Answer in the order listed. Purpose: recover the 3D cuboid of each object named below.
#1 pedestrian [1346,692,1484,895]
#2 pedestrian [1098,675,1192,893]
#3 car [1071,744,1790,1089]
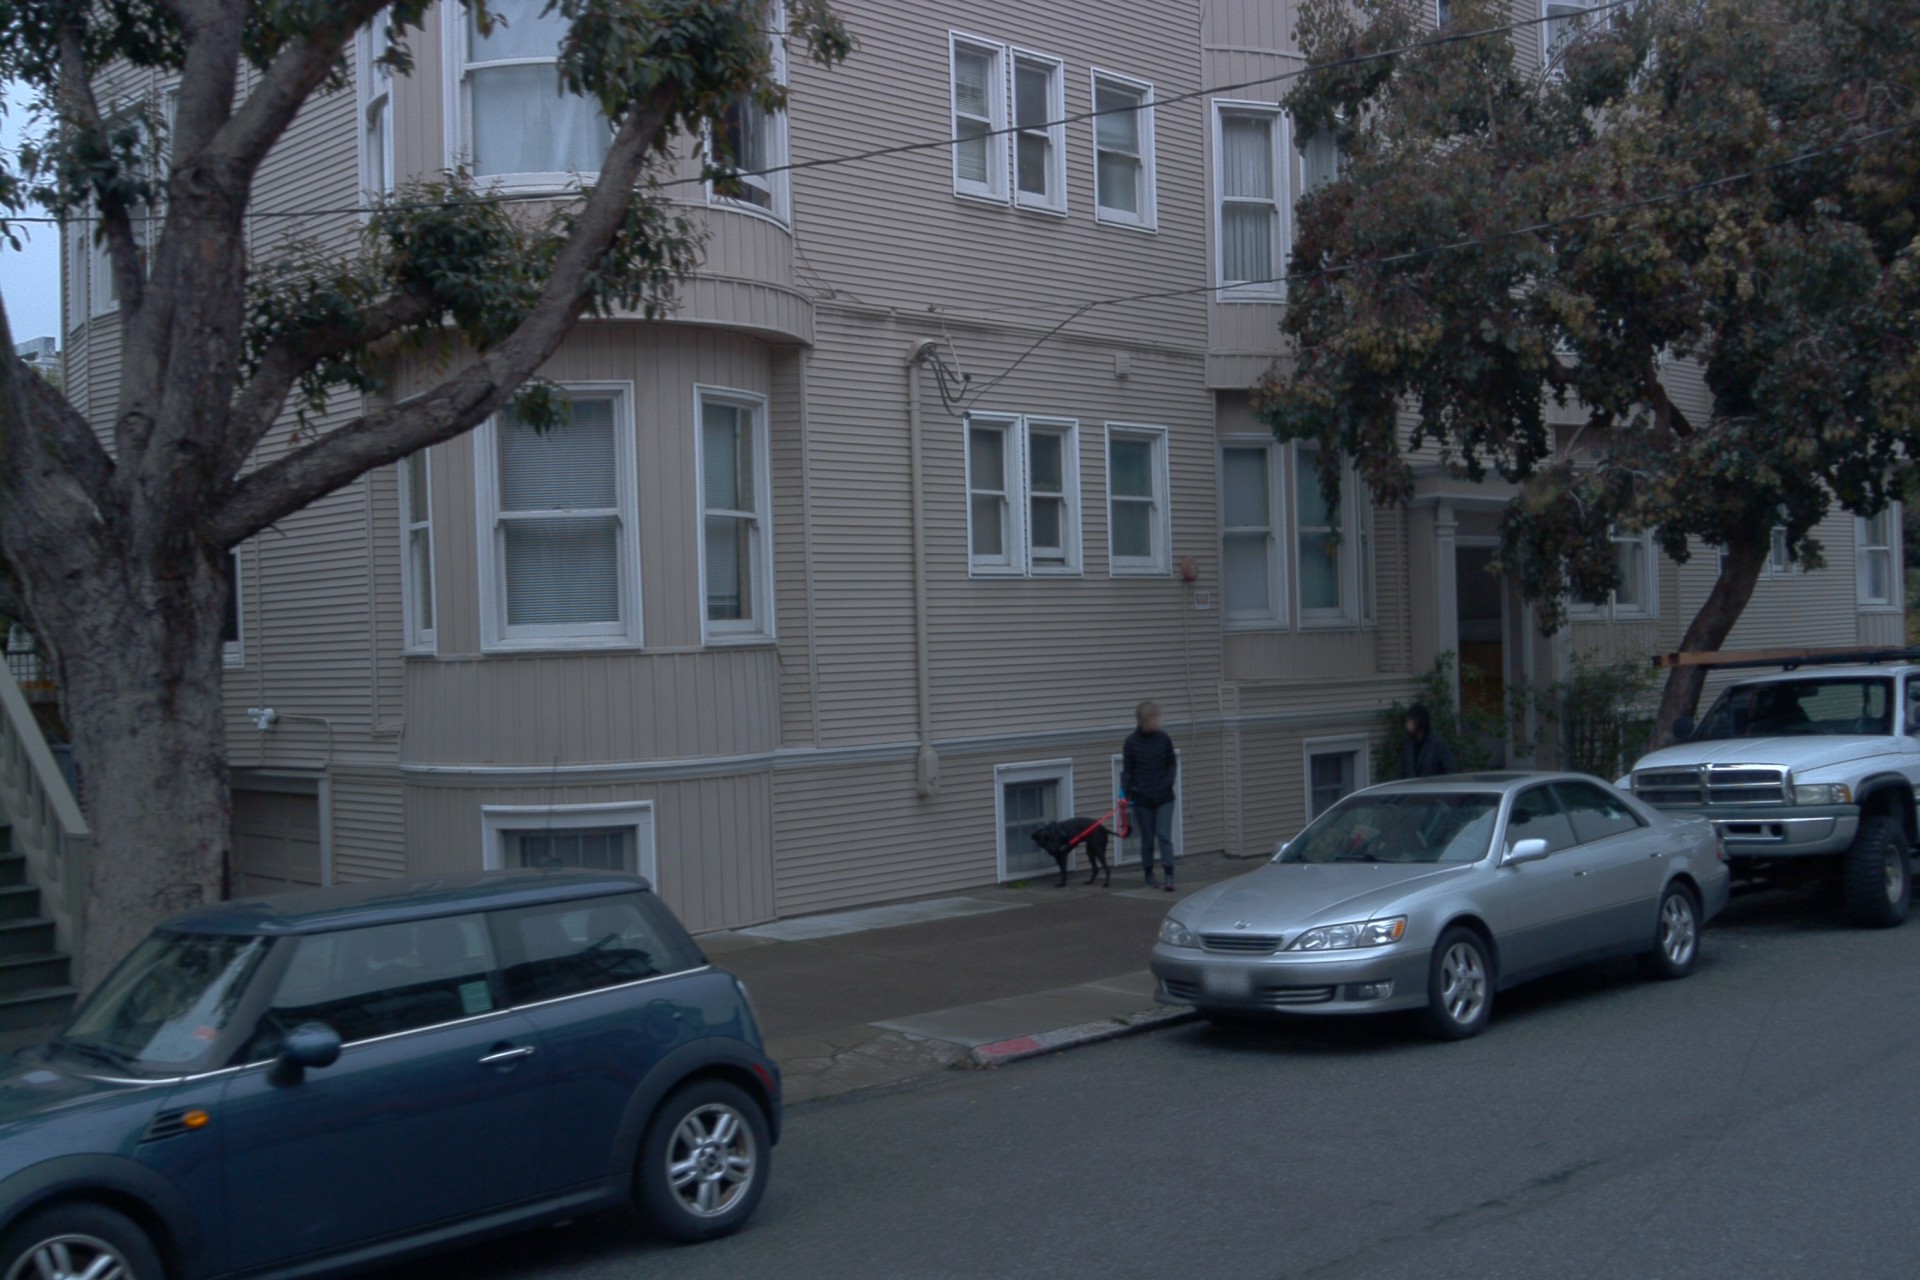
[{"bbox_3d":[3.931,1.300,17.713,0.900,1.650,0.749,1,1,42],"label":"pedestrian"},{"bbox_3d":[1.618,1.246,17.987,0.647,1.860,0.575,0,1,-15],"label":"pedestrian"},{"bbox_3d":[3.072,1.510,12.695,2.144,1.430,4.745,1,1,45],"label":"car"}]
